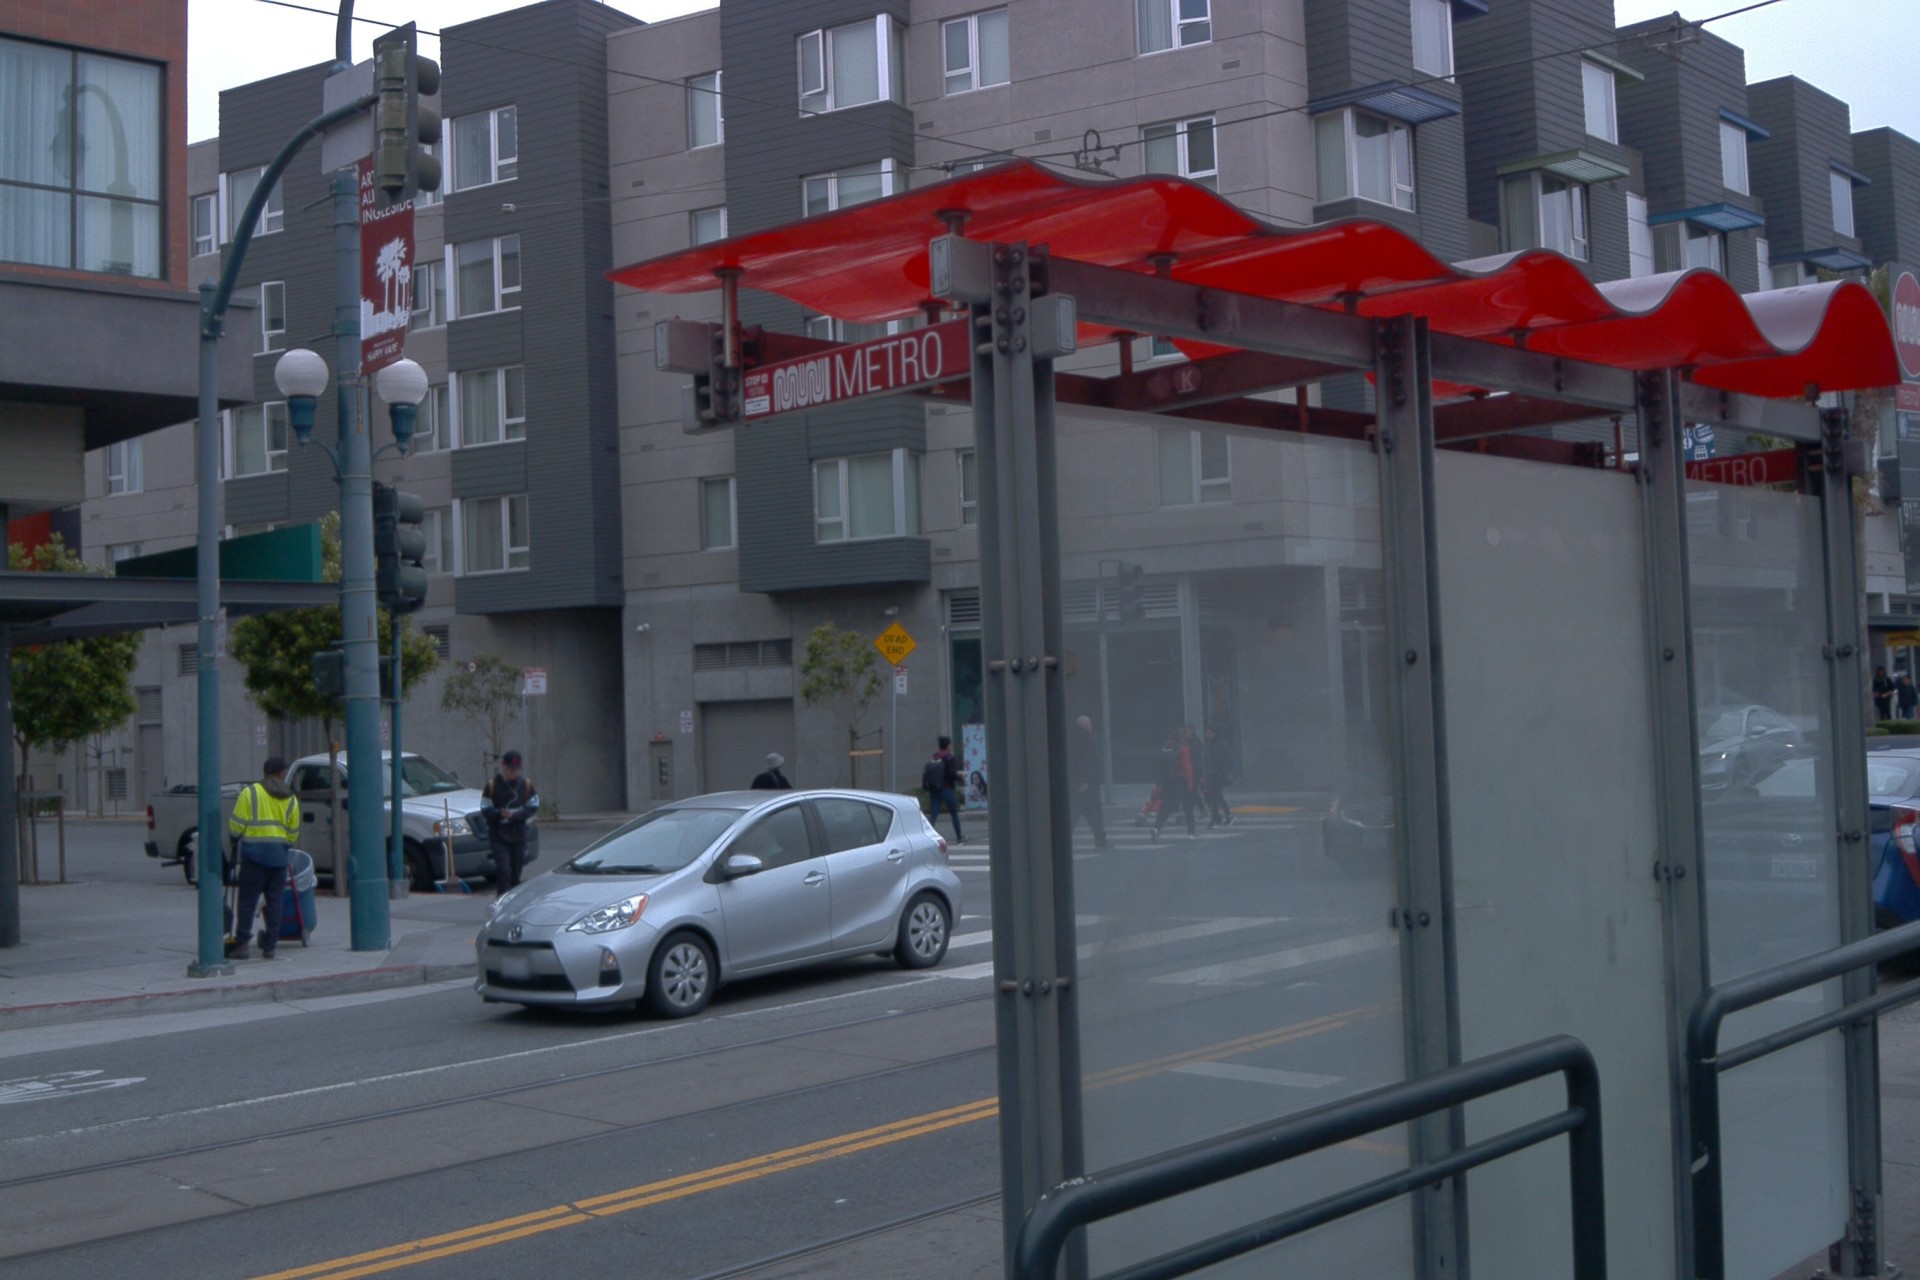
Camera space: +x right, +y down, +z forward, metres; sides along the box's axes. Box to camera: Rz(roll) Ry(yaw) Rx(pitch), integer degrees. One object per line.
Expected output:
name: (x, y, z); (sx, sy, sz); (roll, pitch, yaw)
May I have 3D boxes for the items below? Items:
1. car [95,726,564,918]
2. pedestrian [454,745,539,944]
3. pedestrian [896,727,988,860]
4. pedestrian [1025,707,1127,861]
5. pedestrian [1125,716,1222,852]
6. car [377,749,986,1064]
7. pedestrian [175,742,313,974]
car: (-8.436, 2.310, 27.475); (6.039, 2.050, 2.348); (1, 1, 28)
pedestrian: (-4.652, 2.026, 20.680); (0.721, 1.872, 0.823); (0, 1, -21)
pedestrian: (-0.240, 2.107, 28.628); (0.857, 1.730, 0.990); (1, 1, 35)
pedestrian: (1.512, 1.864, 27.028); (0.990, 1.900, 0.907); (-1, 1, -32)
pedestrian: (2.884, 1.923, 27.874); (0.885, 1.730, 0.983); (1, 1, 42)
car: (-1.893, 1.772, 14.993); (2.084, 1.640, 4.014); (1, 1, 40)
pedestrian: (-6.176, 1.848, 17.806); (0.965, 1.870, 0.727); (-1, 1, -33)
